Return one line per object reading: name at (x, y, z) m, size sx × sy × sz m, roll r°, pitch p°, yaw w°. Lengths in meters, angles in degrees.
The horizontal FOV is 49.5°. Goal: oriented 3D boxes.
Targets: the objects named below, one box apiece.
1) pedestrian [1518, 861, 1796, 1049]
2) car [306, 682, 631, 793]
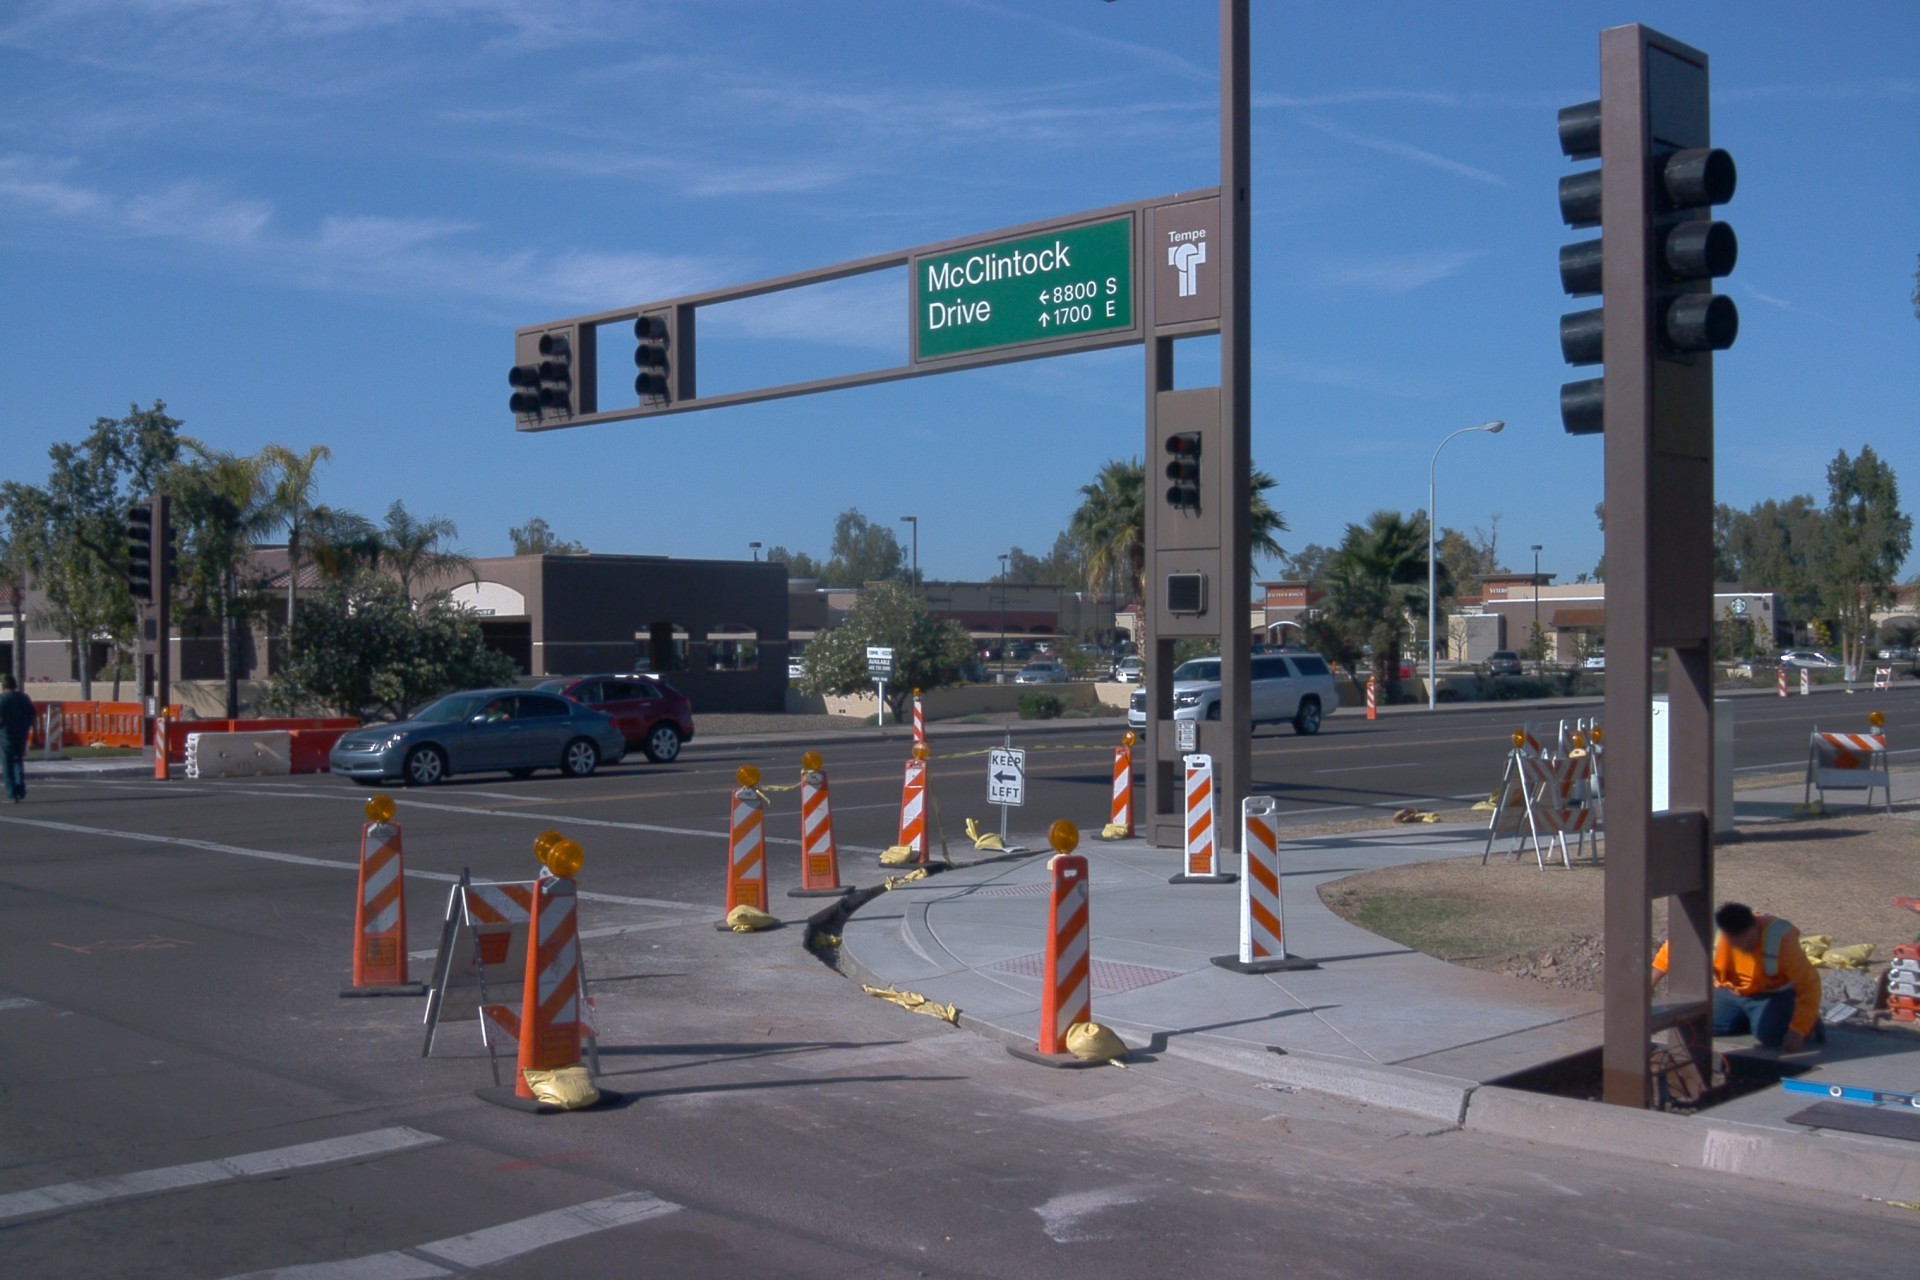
pedestrian at (3.820, 1.692, 11.410) m, size 1.087 × 0.820 × 1.043 m, roll 0°, pitch -1°, yaw -42°
car at (-7.683, 1.477, 32.881) m, size 2.010 × 1.570 × 4.699 m, roll -1°, pitch -1°, yaw 42°
